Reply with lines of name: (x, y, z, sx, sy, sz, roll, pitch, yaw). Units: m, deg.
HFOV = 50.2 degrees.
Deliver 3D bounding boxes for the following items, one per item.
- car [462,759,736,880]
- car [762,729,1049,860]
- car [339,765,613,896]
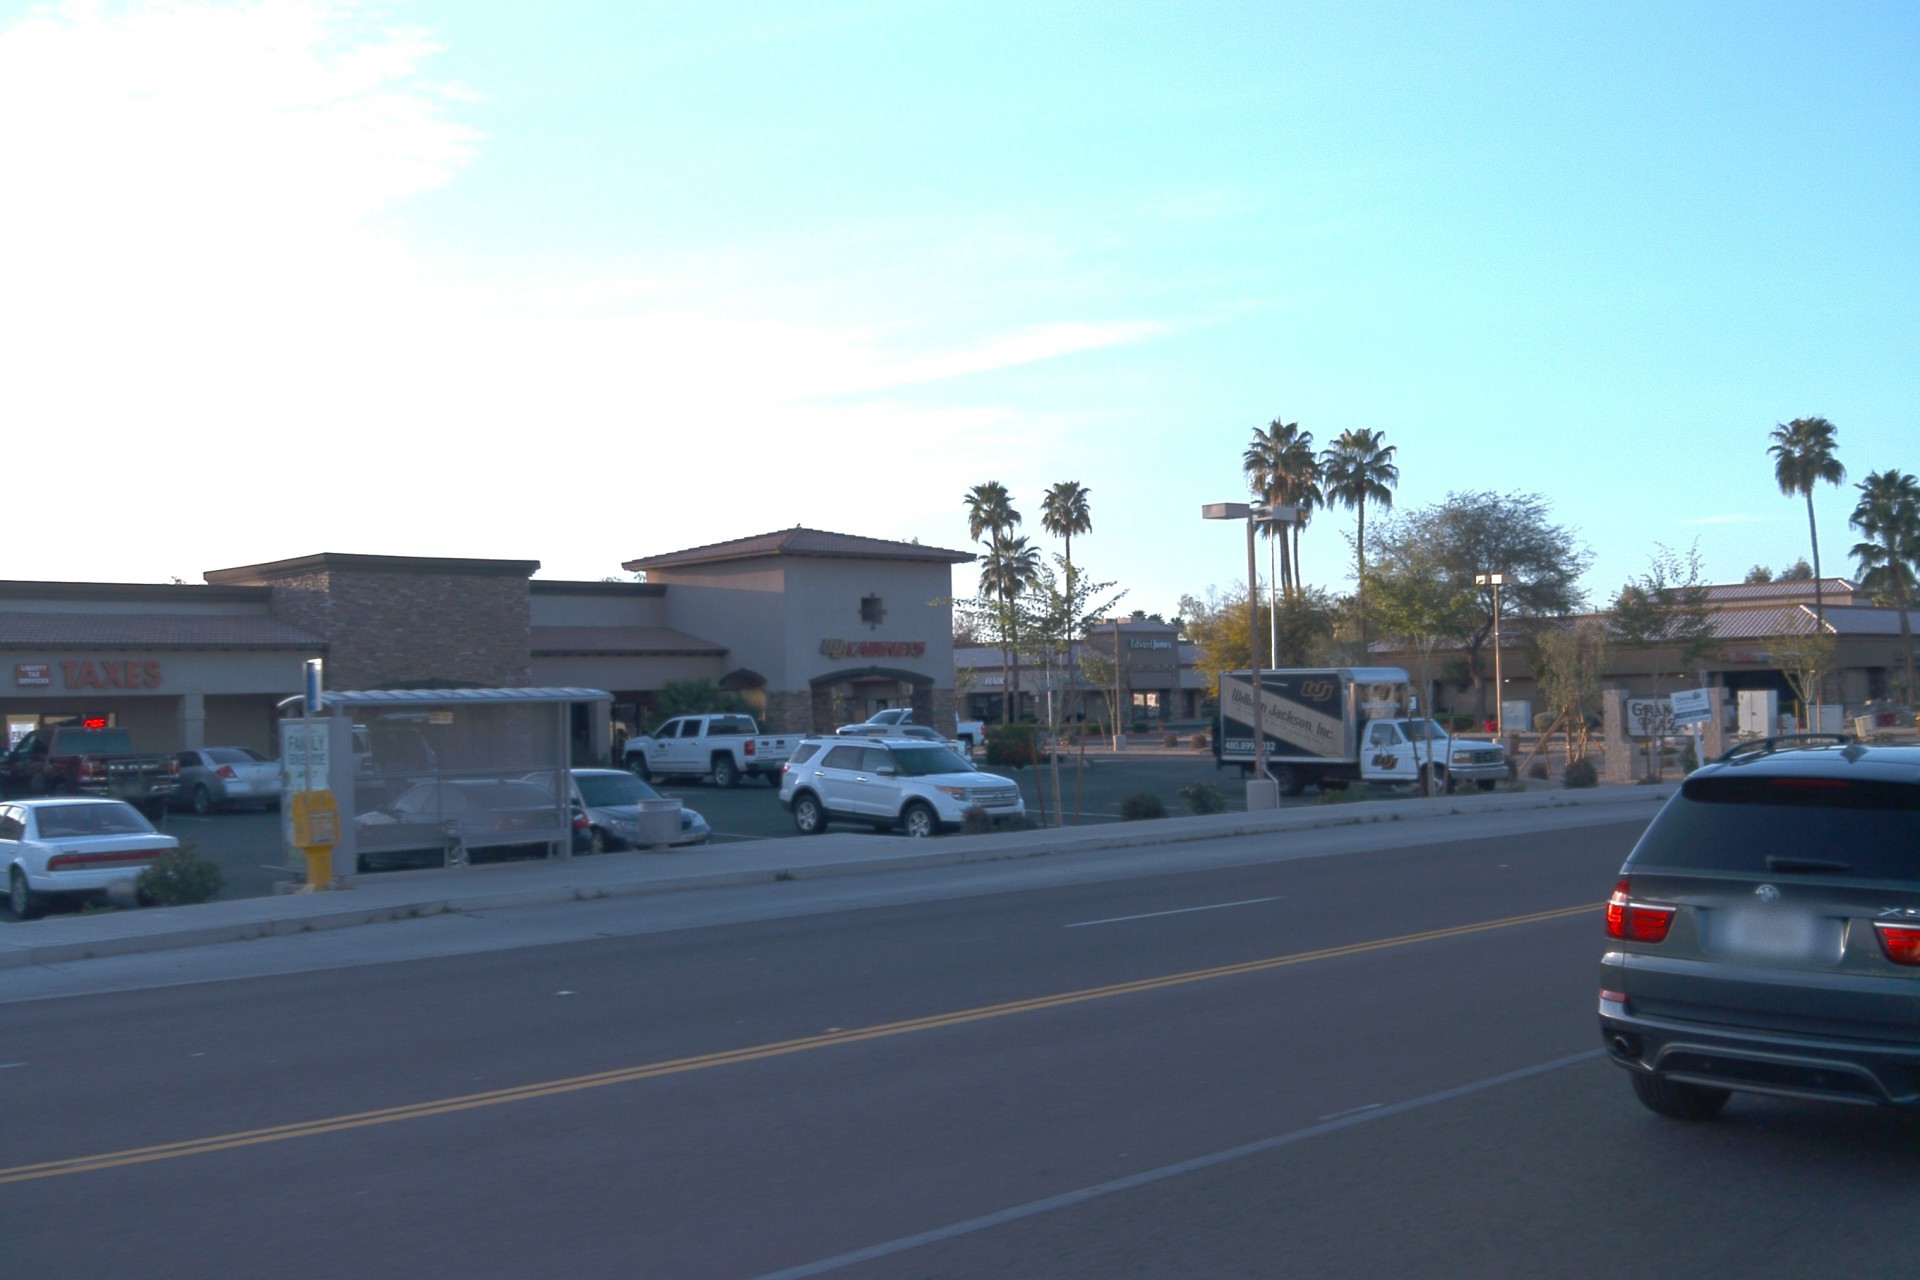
car: (-5.714, 2.738, 32.053, 2.028, 1.520, 4.549, 0, -1, -44)
car: (-1.022, 2.626, 35.866, 2.288, 1.960, 4.897, 0, -1, -45)
car: (-7.113, 2.704, 29.860, 1.937, 1.540, 4.277, 0, -1, -45)
